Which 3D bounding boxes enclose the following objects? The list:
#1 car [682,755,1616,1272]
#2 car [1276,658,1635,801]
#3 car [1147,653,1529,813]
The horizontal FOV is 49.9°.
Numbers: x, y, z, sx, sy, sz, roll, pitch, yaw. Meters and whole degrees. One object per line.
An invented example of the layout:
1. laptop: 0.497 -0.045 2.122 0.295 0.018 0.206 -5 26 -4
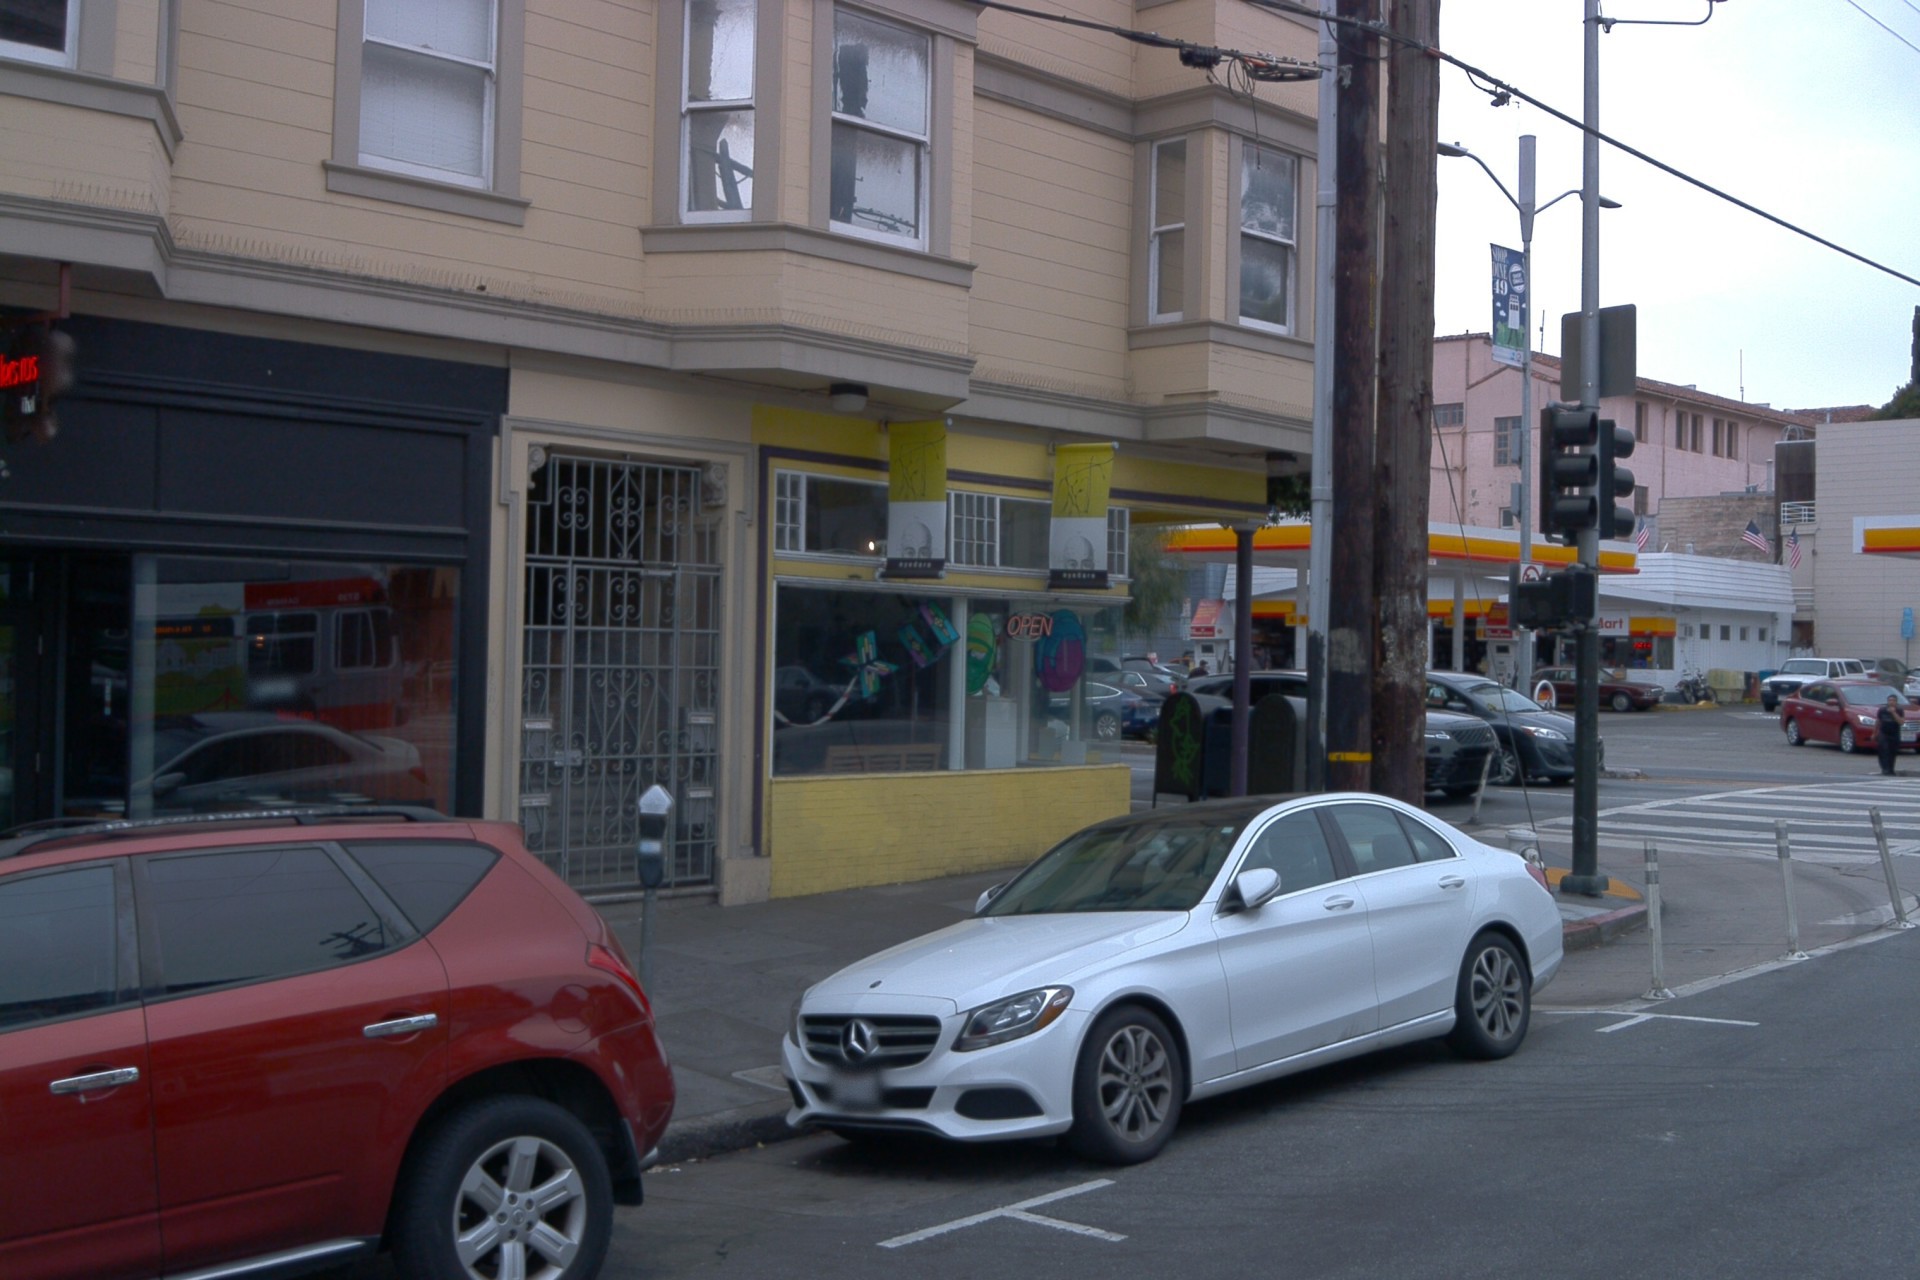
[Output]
1. car: 1.138 1.534 10.090 4.697 1.590 1.975 -1 1 -45
2. car: 7.132 1.225 30.062 4.688 1.789 2.067 1 1 45
3. car: 4.948 1.151 27.501 2.104 1.830 4.647 -1 1 -44
